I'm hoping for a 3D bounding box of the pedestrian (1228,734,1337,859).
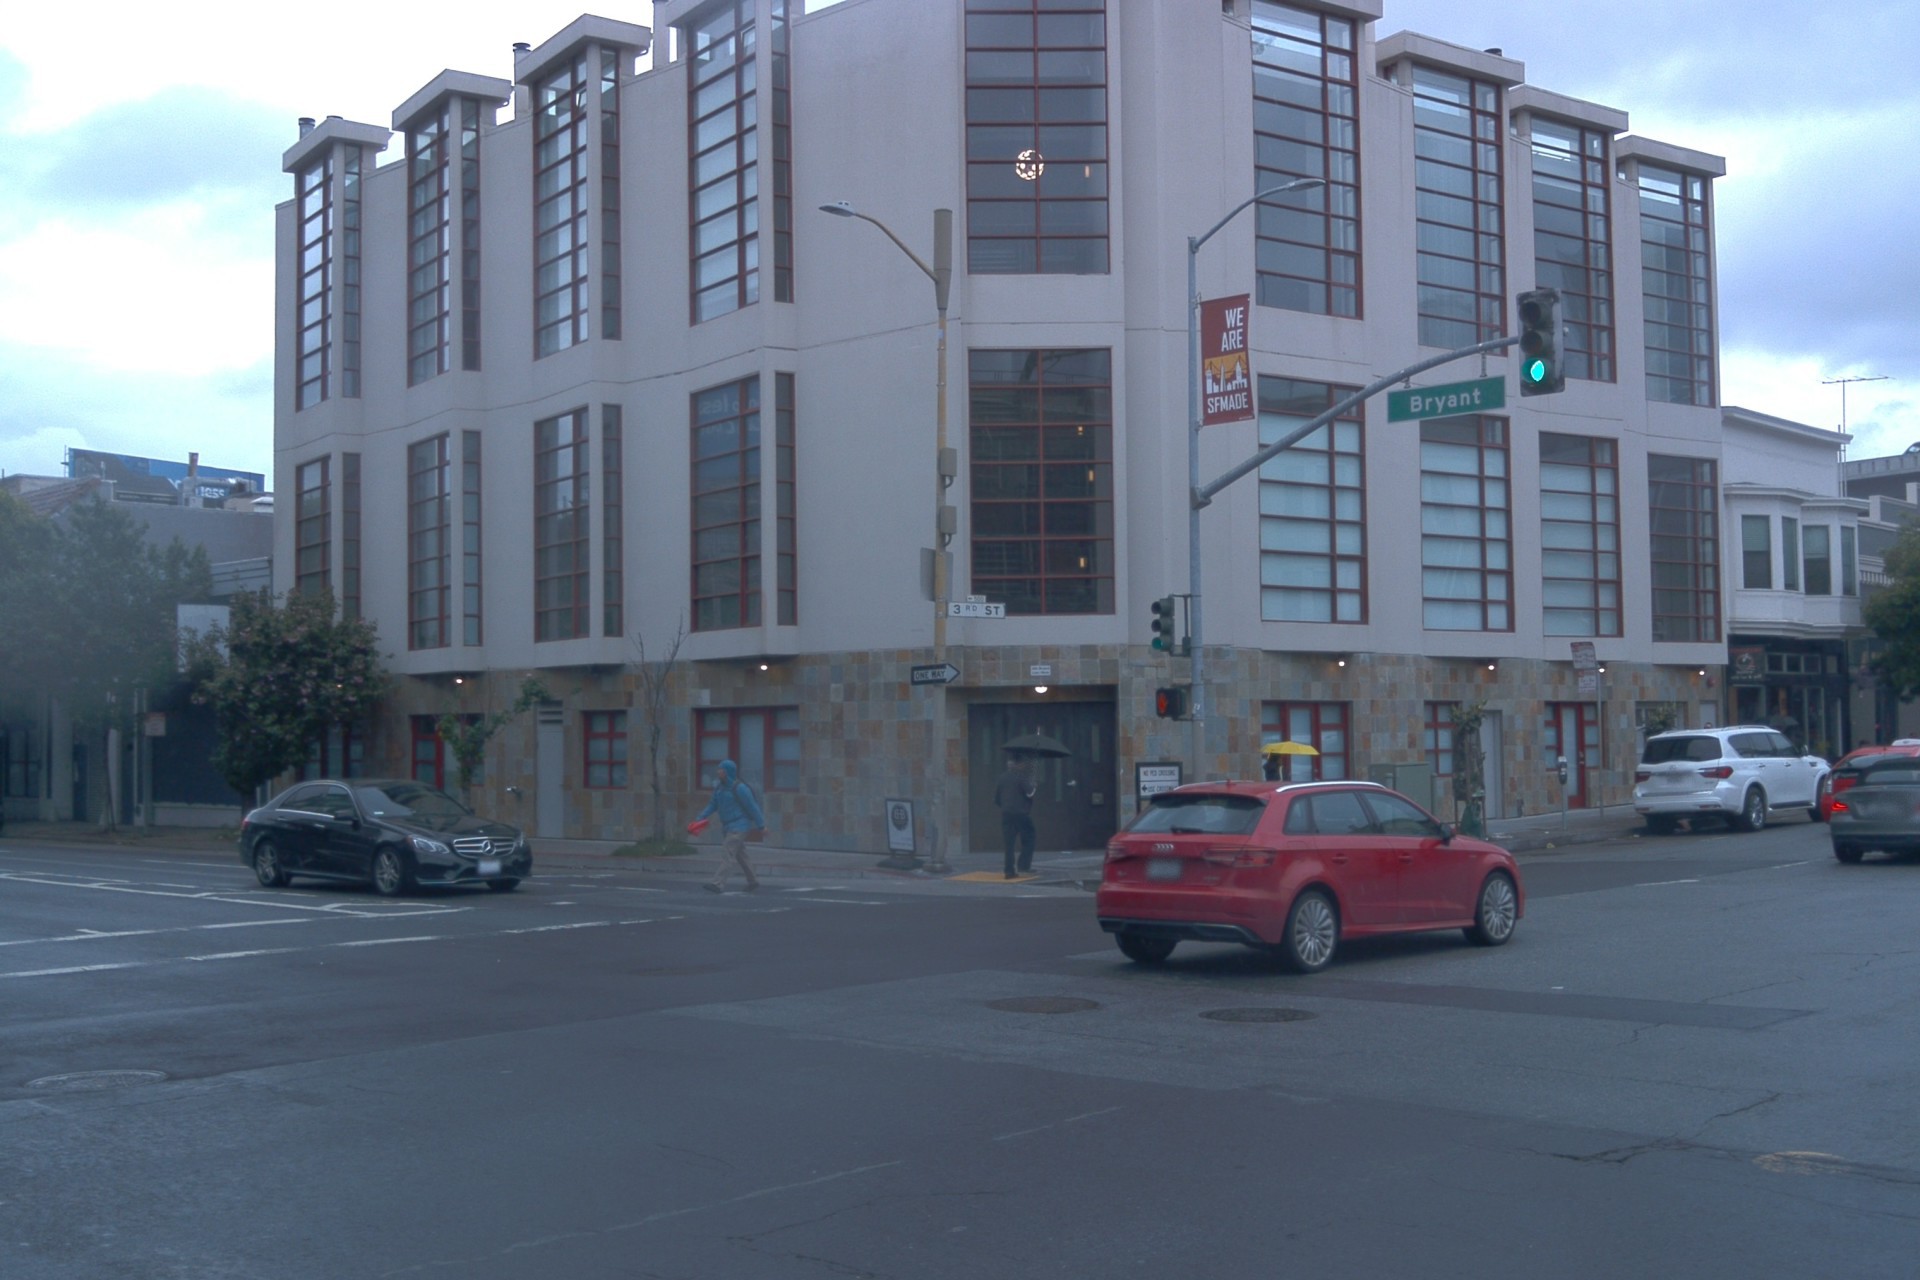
[{"bbox_3d":[5.143,2.471,33.181,1.362,1.860,1.137,0,0,-45],"label":"pedestrian"}]

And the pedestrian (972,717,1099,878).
[{"bbox_3d":[1.050,2.155,28.885,1.228,2.110,1.341,0,0,34],"label":"pedestrian"}]

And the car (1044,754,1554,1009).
[{"bbox_3d":[2.912,1.853,17.153,1.997,1.570,4.449,0,0,43],"label":"car"}]

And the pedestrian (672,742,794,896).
[{"bbox_3d":[-2.864,2.234,26.264,0.924,1.810,1.235,0,0,41],"label":"pedestrian"}]

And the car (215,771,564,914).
[{"bbox_3d":[-7.551,2.572,27.269,4.852,1.410,2.145,0,0,42],"label":"car"}]
